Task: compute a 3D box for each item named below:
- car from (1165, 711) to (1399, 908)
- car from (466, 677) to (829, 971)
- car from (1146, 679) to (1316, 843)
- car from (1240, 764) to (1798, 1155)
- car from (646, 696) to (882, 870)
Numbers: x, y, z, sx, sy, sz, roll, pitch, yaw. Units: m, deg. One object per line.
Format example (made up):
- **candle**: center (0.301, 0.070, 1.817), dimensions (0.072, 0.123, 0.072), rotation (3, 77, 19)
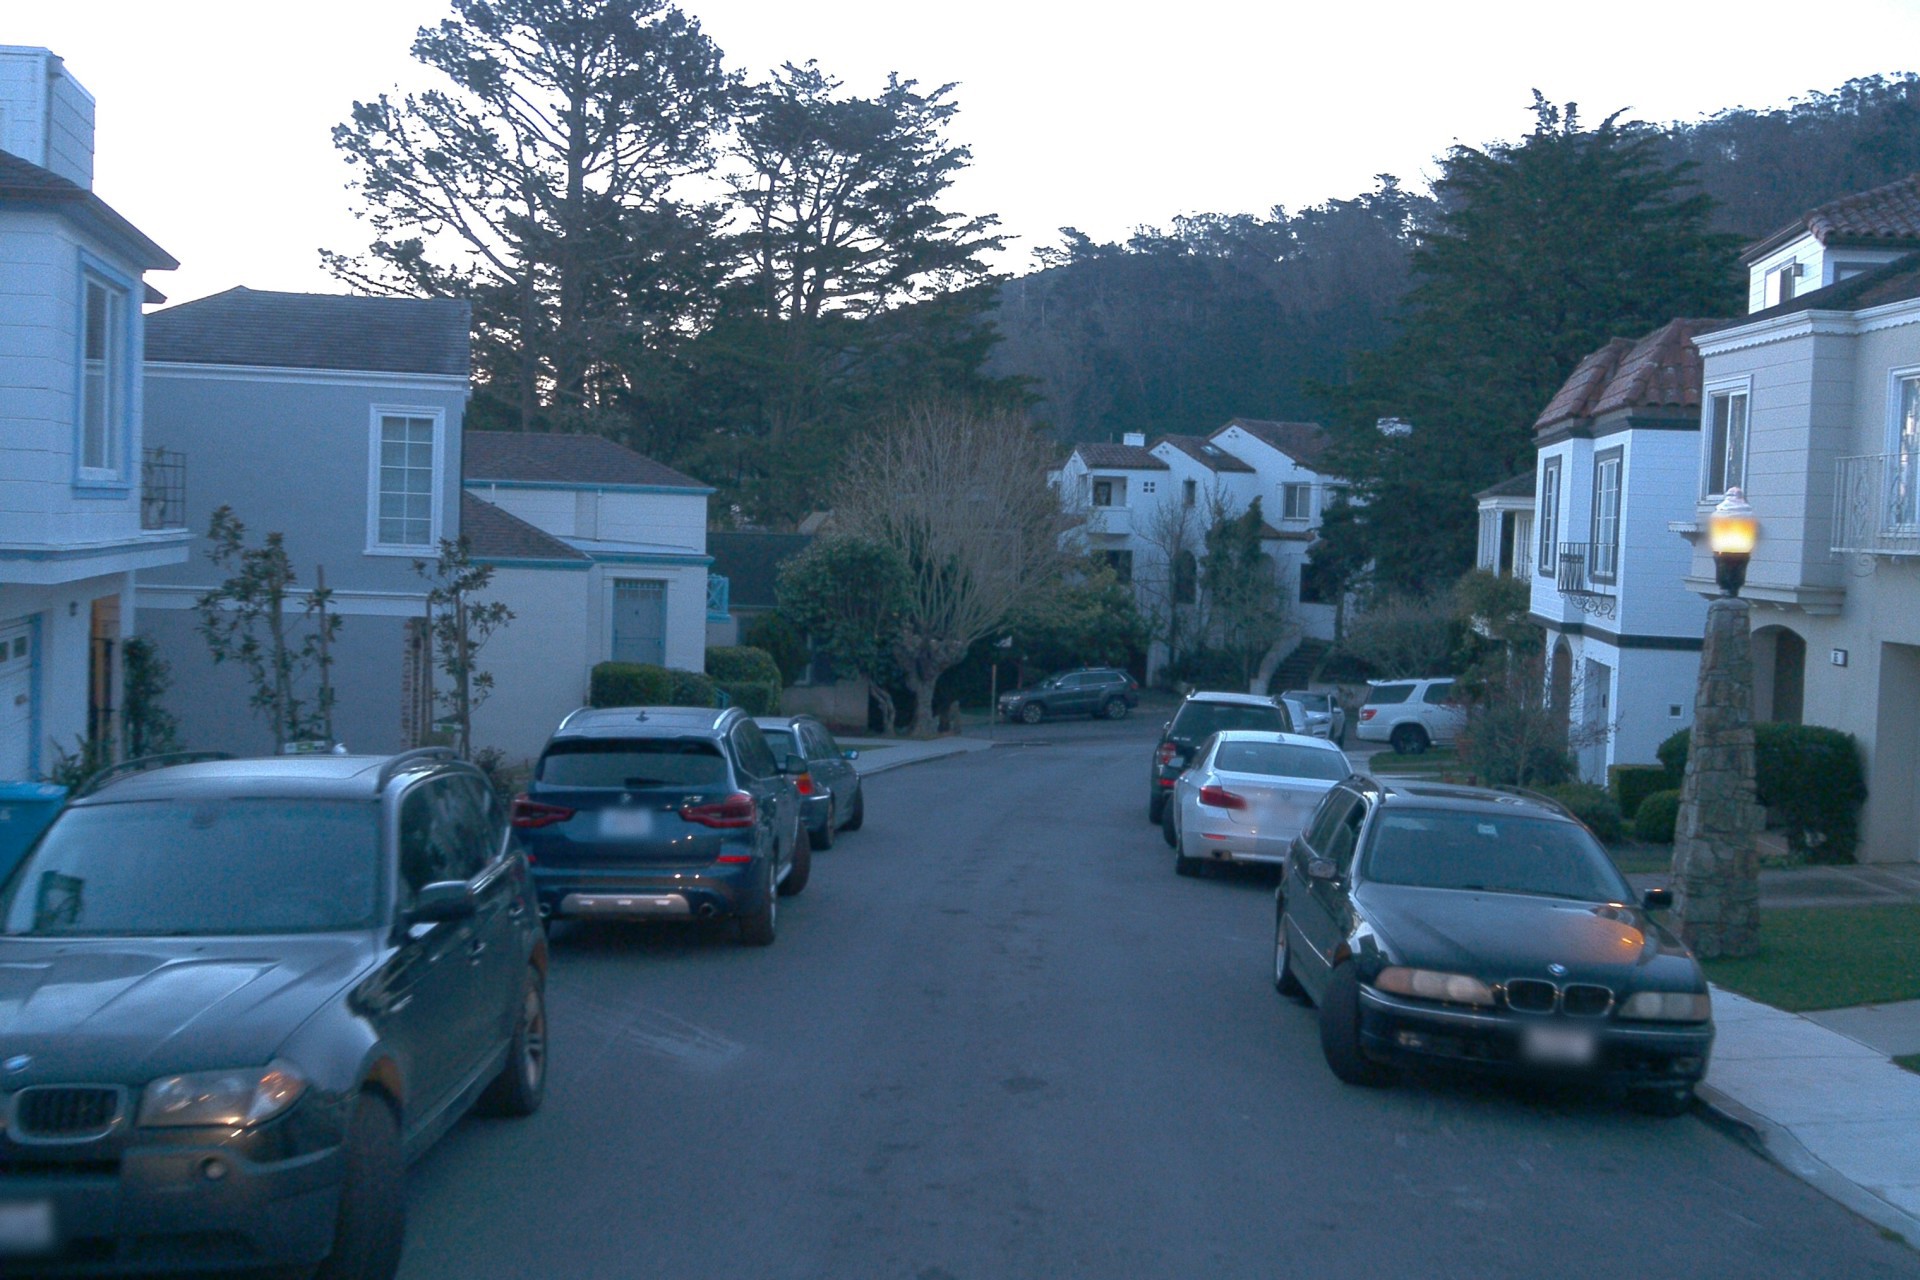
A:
- **car**: center (3.211, 1.640, 21.563), dimensions (2.106, 1.660, 4.902), rotation (0, 0, 5)
- **car**: center (-2.195, 1.247, 15.944), dimensions (2.209, 1.870, 4.685), rotation (0, 0, -2)
- **car**: center (3.693, 1.530, 27.856), dimensions (2.081, 1.940, 4.624), rotation (0, 0, 9)
- **car**: center (2.906, 1.619, 12.018), dimensions (2.124, 1.520, 4.902), rotation (0, 0, 3)
- **car**: center (-2.049, 1.488, 22.985), dimensions (1.918, 1.640, 4.464), rotation (0, 0, 4)
